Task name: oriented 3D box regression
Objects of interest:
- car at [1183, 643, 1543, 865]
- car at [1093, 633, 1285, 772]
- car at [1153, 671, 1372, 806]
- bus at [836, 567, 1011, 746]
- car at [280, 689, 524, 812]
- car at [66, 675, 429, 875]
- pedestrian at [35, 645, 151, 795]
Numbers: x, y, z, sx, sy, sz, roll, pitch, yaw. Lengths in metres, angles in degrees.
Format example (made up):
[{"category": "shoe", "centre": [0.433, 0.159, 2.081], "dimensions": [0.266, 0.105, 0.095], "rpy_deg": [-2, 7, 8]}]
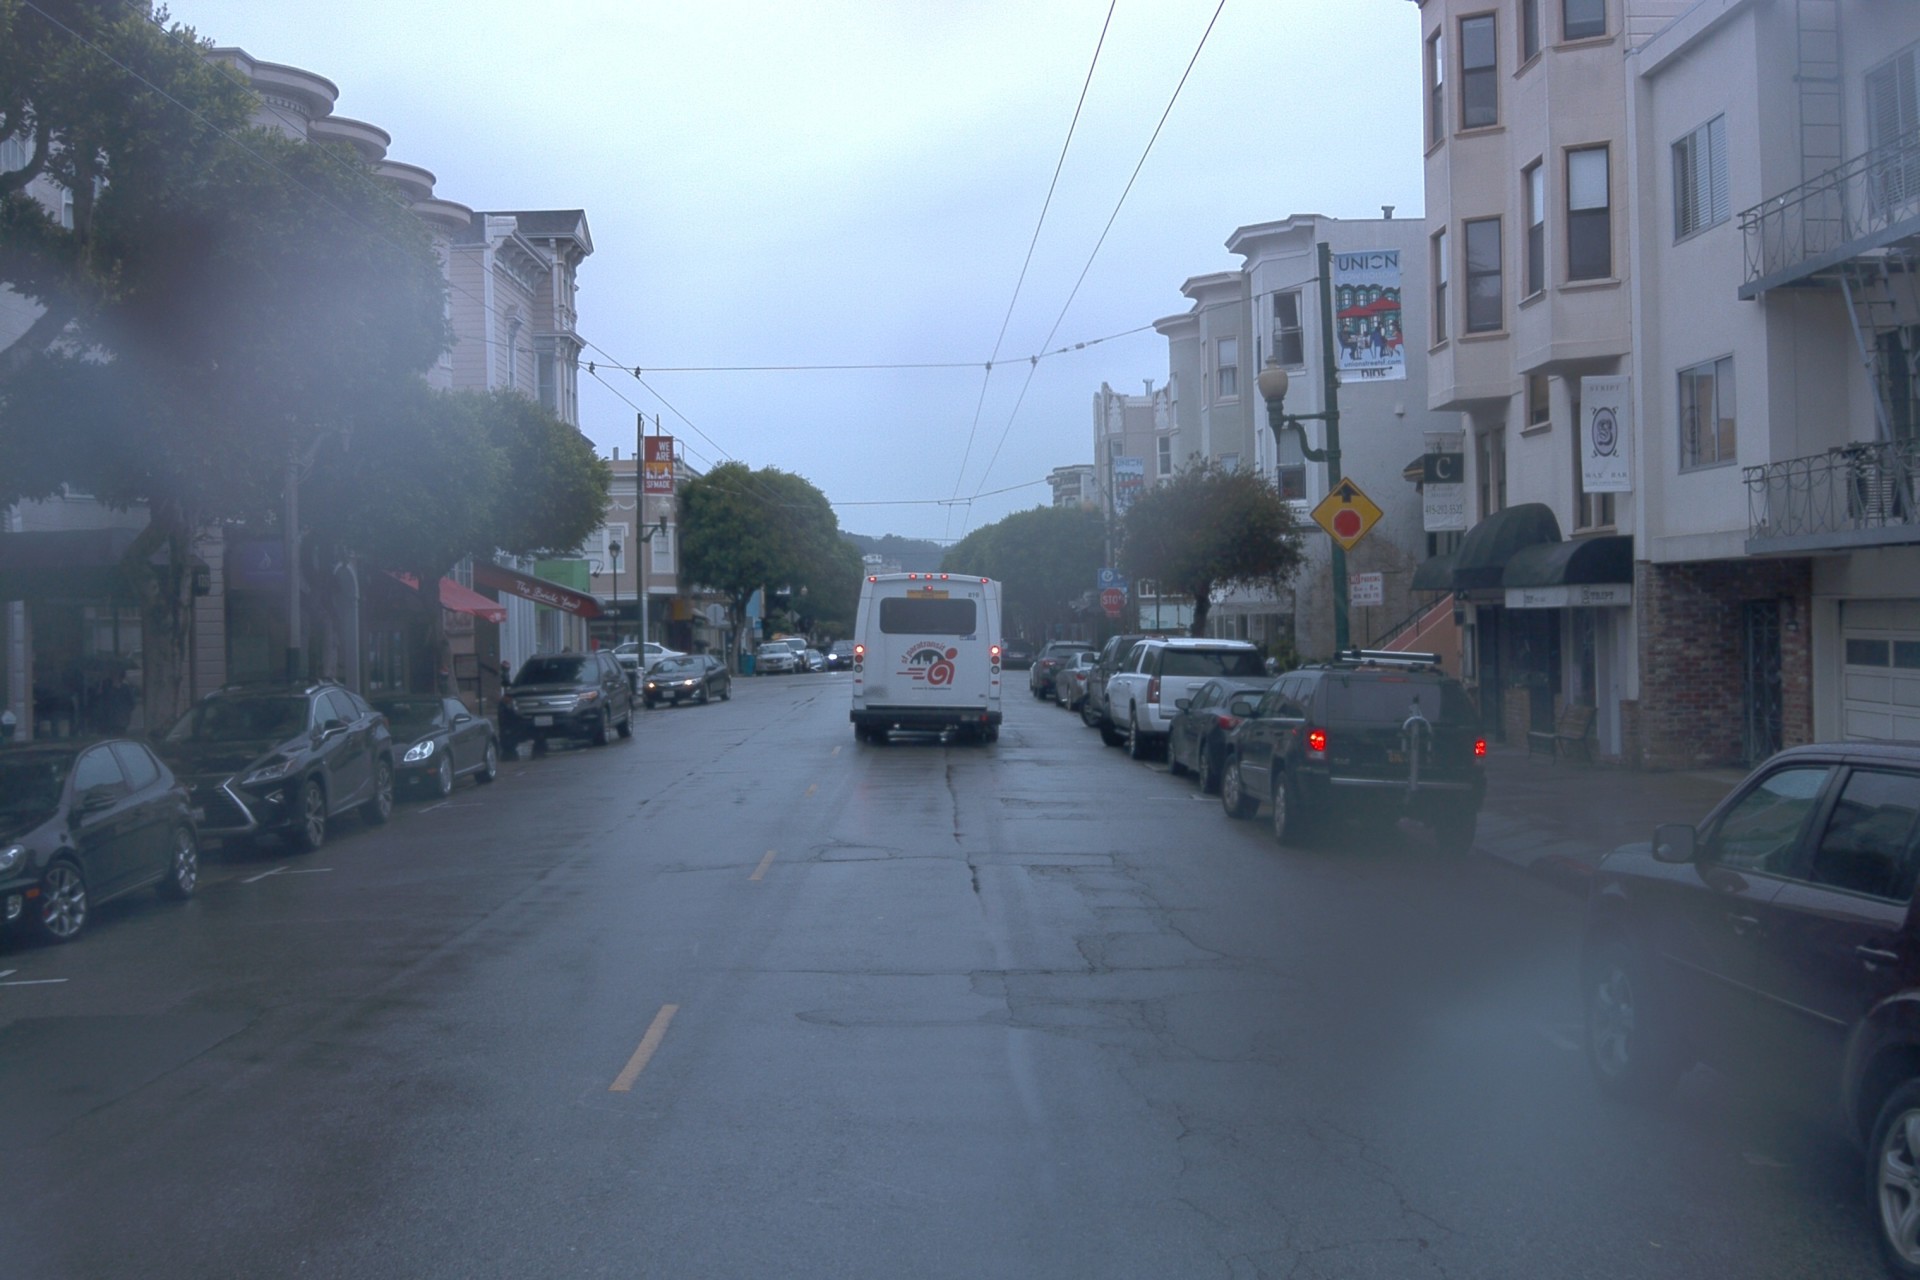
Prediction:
[{"category": "car", "centre": [3.865, 1.016, 20.961], "dimensions": [2.216, 1.890, 5.481], "rpy_deg": [1, 1, -4]}, {"category": "car", "centre": [3.529, 0.904, 32.917], "dimensions": [2.169, 1.980, 5.541], "rpy_deg": [1, 1, -3]}, {"category": "car", "centre": [3.857, 1.217, 27.088], "dimensions": [1.934, 1.490, 4.646], "rpy_deg": [1, 1, -3]}, {"category": "bus", "centre": [-0.624, 0.236, 36.526], "dimensions": [2.787, 2.850, 6.706], "rpy_deg": [1, 1, -1]}, {"category": "car", "centre": [-7.571, 1.459, 28.469], "dimensions": [2.074, 1.380, 4.645], "rpy_deg": [1, 1, 1]}, {"category": "car", "centre": [-7.492, 1.339, 22.308], "dimensions": [2.238, 1.770, 4.986], "rpy_deg": [1, 1, -1]}, {"category": "pedestrian", "centre": [-11.492, 1.043, 27.353], "dimensions": [1.100, 1.928, 1.113], "rpy_deg": [1, 0, -2]}]
